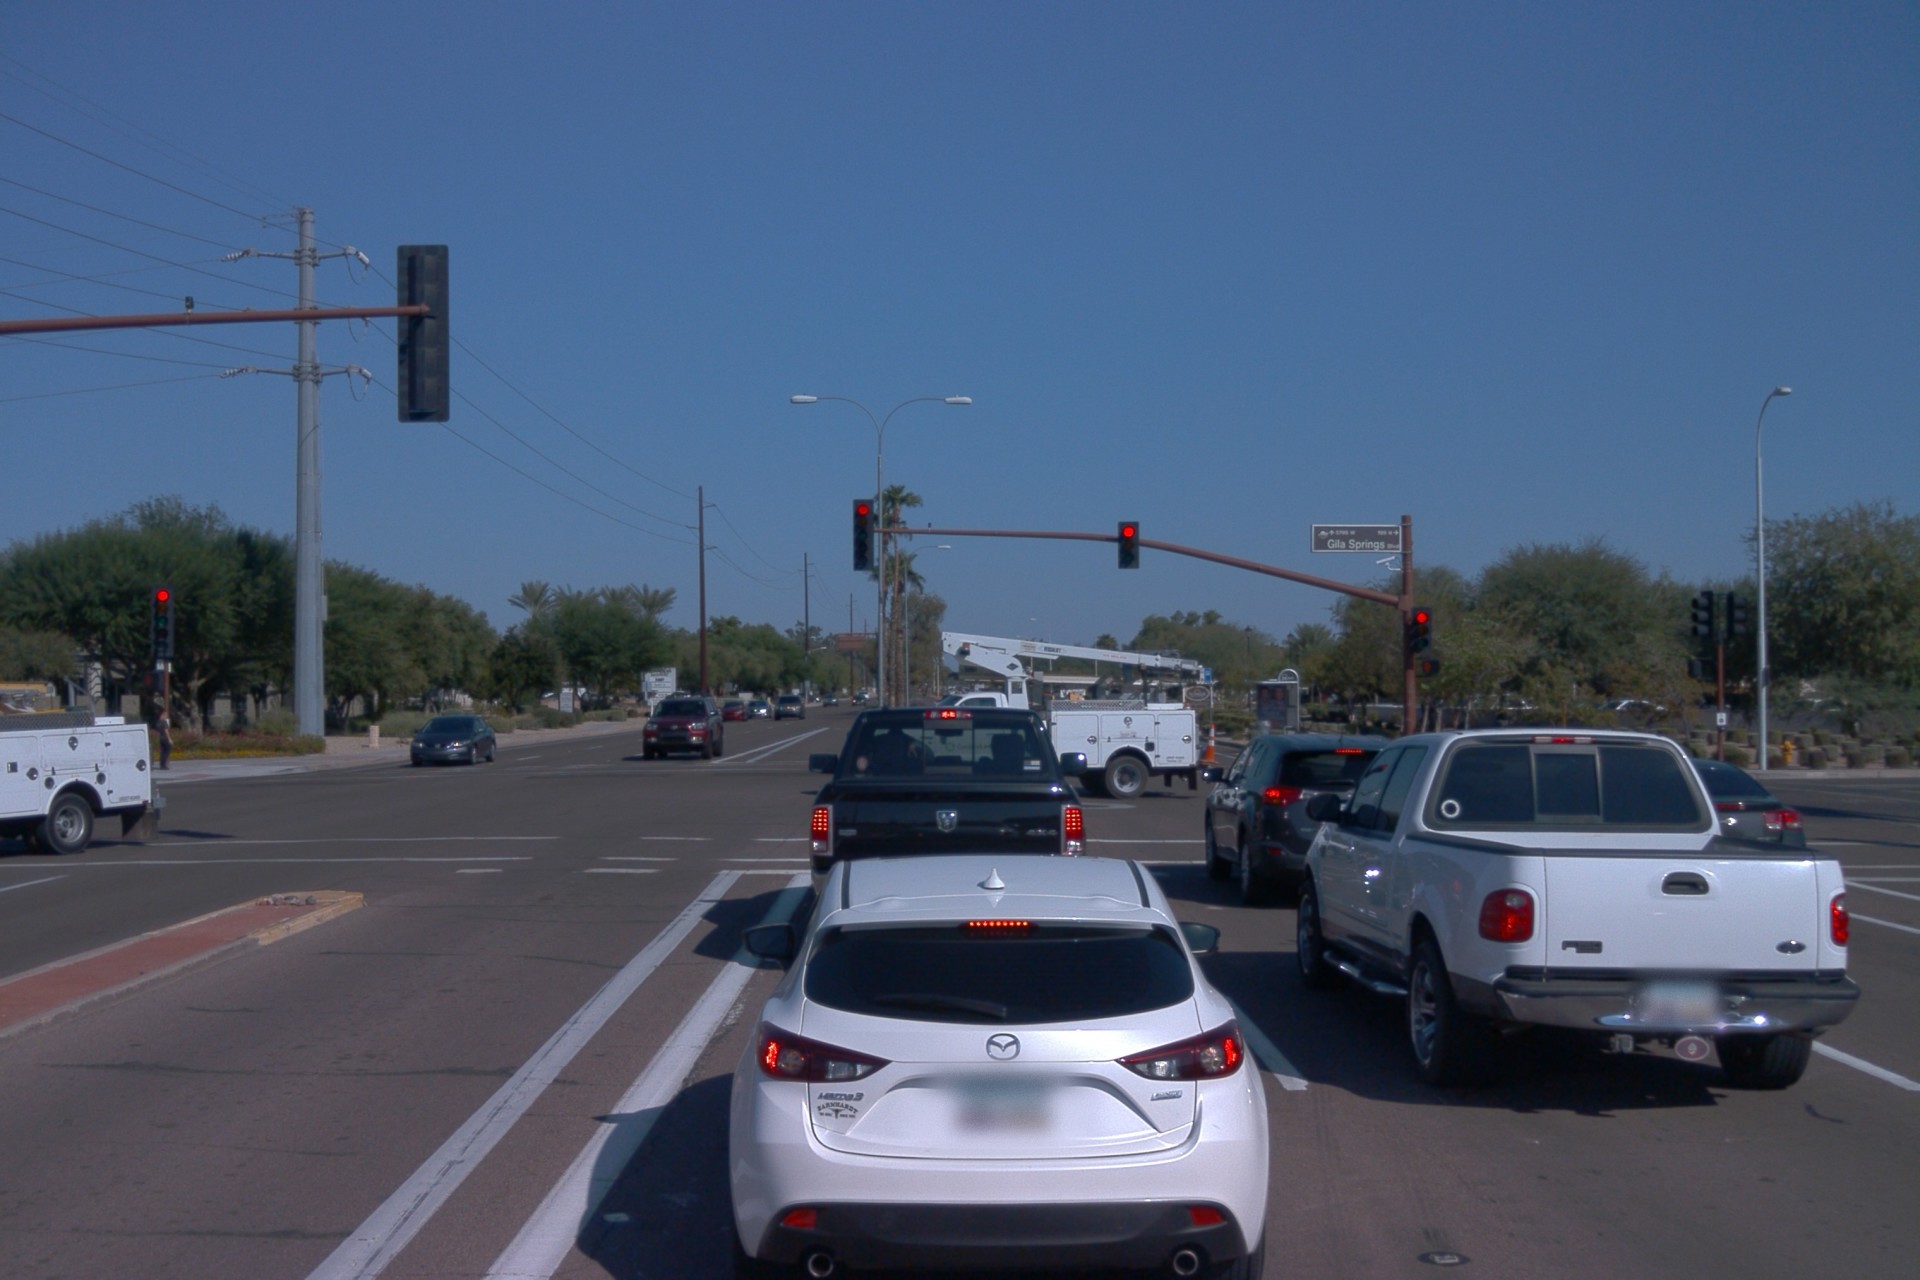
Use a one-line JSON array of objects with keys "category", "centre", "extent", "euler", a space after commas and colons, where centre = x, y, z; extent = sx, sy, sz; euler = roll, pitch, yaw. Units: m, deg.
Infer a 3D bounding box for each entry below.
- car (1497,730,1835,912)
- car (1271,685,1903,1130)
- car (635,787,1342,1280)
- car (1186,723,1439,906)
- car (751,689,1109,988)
[{"category": "car", "centre": [6.817, 1.695, 20.626], "extent": [1.828, 1.540, 4.447], "euler": [0, -1, 0]}, {"category": "car", "centre": [3.337, 1.322, 12.476], "extent": [2.073, 2.070, 5.518], "euler": [0, -1, -1]}, {"category": "car", "centre": [0.087, 1.505, 8.512], "extent": [2.099, 1.600, 4.628], "euler": [0, -1, 0]}, {"category": "car", "centre": [3.477, 1.694, 21.297], "extent": [1.789, 1.630, 4.213], "euler": [0, -1, -1]}, {"category": "car", "centre": [-0.135, 1.449, 17.029], "extent": [2.500, 2.080, 5.001], "euler": [0, -1, 2]}]
